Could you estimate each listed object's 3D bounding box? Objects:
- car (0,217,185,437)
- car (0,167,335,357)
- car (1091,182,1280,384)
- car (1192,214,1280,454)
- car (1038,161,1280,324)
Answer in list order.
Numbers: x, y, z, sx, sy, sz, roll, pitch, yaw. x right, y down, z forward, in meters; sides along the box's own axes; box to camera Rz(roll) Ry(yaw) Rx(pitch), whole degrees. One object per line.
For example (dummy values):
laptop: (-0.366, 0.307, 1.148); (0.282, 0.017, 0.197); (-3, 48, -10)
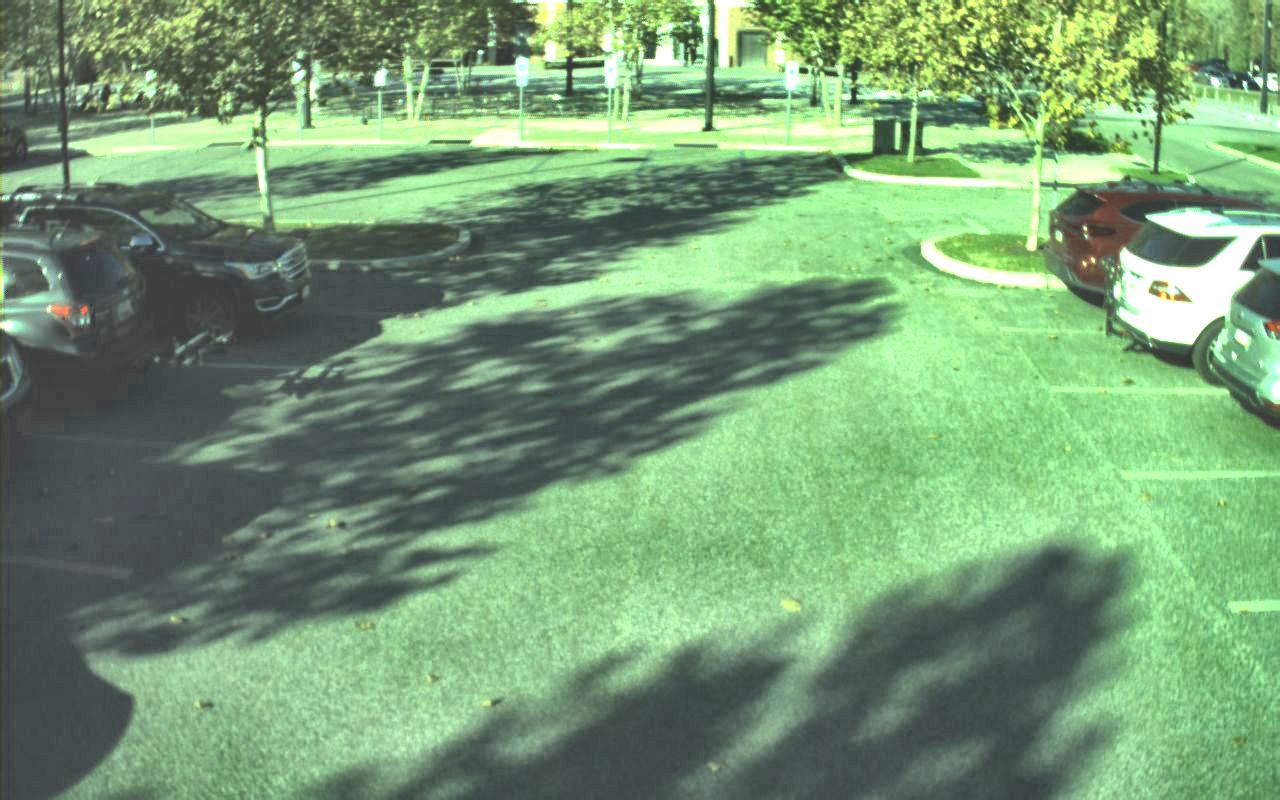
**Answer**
car: (-7.014, -0.767, 11.356); (4.411, 1.663, 1.969); (1, 16, 7)
car: (-6.219, -1.654, 14.075); (4.746, 1.783, 2.066); (1, 16, 7)
car: (7.557, -1.355, 12.931); (4.529, 1.838, 2.010); (-1, 16, 0)
car: (7.696, -0.658, 10.449); (4.393, 1.787, 1.968); (-1, 16, 2)
car: (7.741, -2.114, 15.613); (4.502, 1.783, 1.995); (0, 16, 2)
